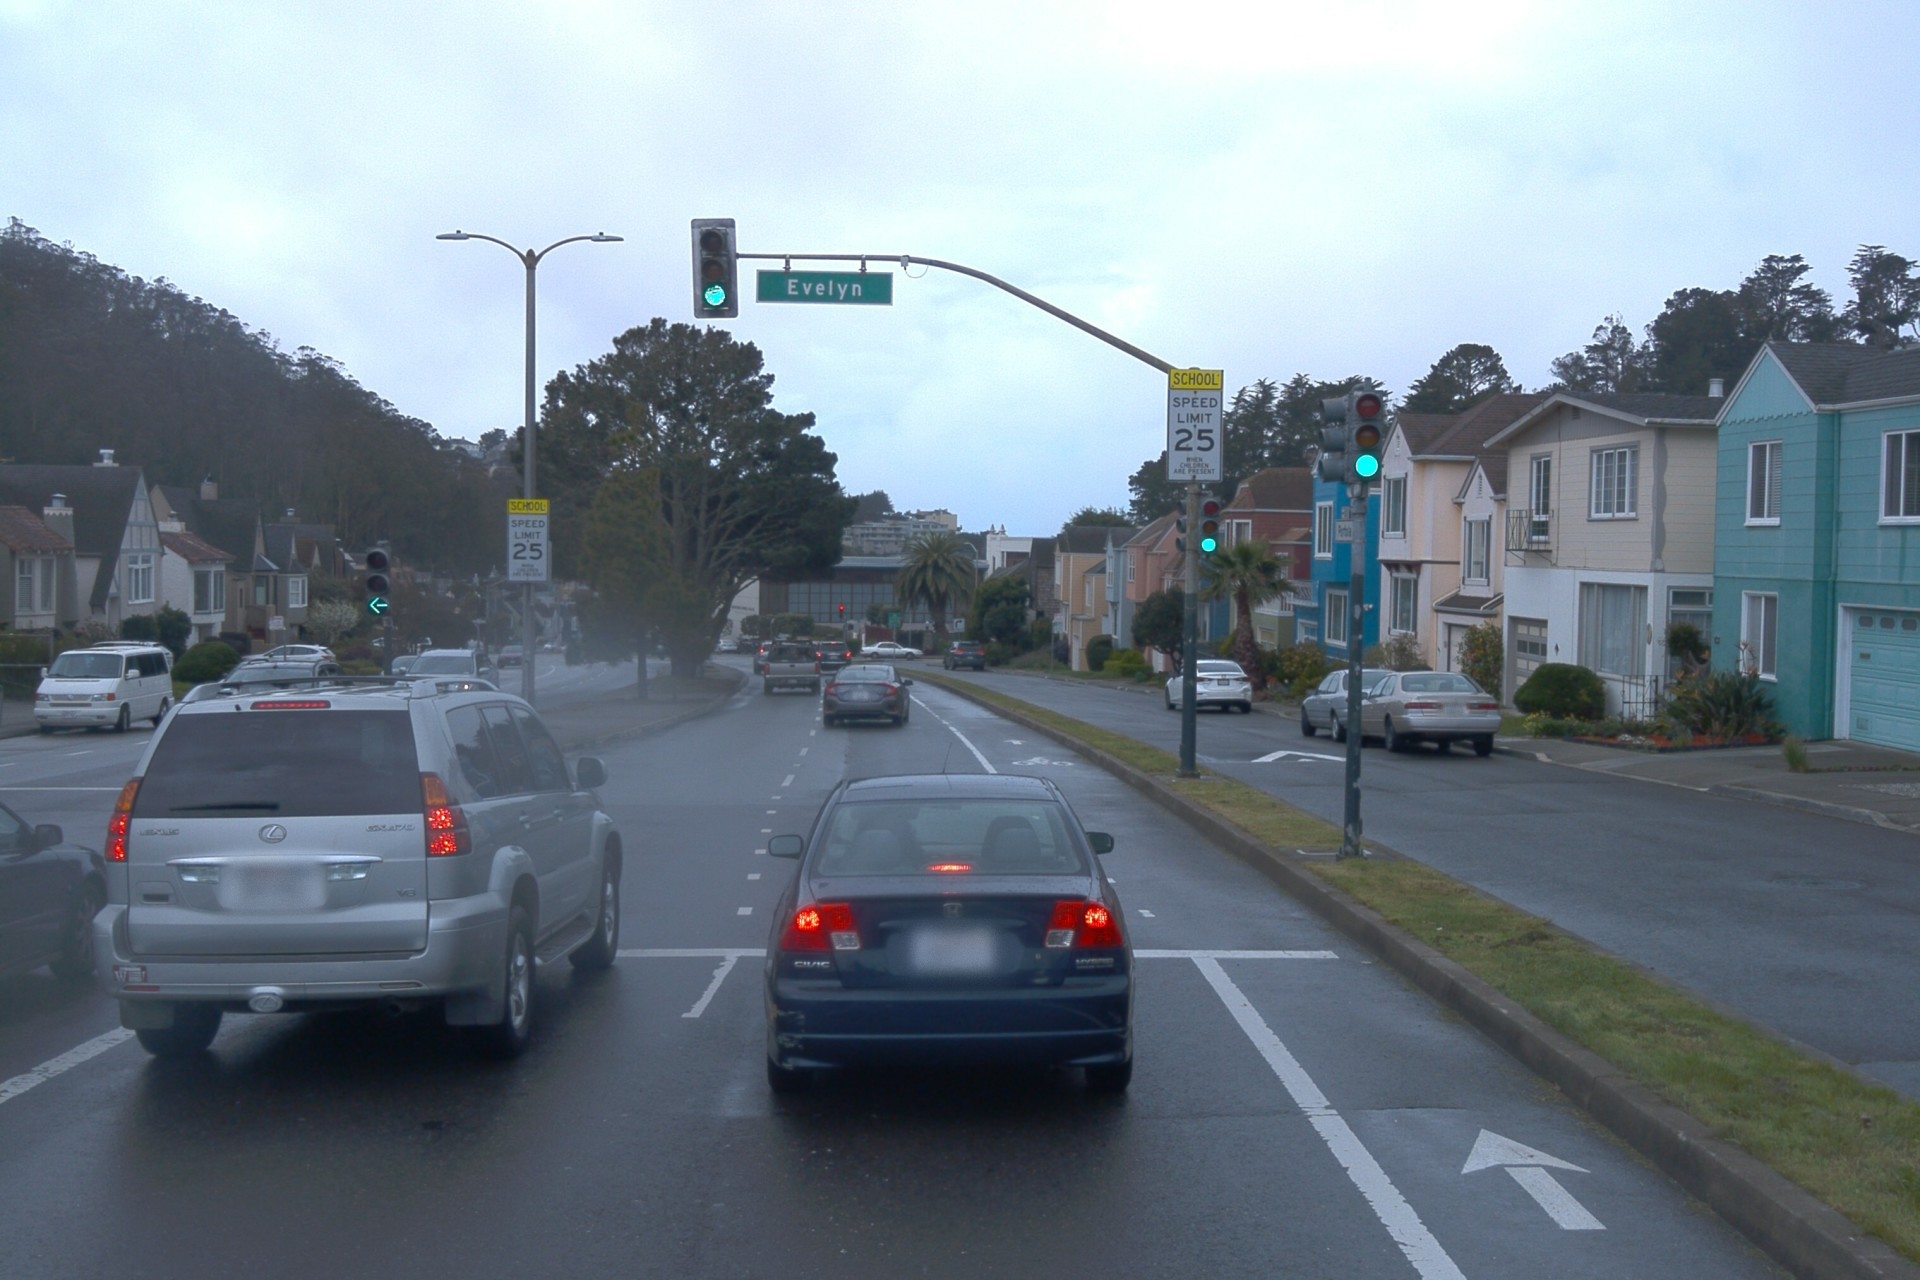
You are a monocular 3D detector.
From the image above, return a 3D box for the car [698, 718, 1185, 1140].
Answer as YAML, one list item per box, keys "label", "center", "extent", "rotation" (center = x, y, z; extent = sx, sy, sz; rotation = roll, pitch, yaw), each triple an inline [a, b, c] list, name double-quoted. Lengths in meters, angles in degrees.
- label: "car"
  center: [-0.116, 1.267, 10.565]
  extent: [2.004, 1.570, 4.164]
  rotation: [0, 0, -1]

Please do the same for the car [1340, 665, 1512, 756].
- label: "car"
  center: [8.081, 1.194, 36.133]
  extent: [1.755, 1.440, 4.469]
  rotation: [0, 0, -4]

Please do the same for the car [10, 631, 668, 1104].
- label: "car"
  center: [-3.059, 0.996, 11.413]
  extent: [2.249, 2.070, 4.734]
  rotation: [0, 0, -1]
